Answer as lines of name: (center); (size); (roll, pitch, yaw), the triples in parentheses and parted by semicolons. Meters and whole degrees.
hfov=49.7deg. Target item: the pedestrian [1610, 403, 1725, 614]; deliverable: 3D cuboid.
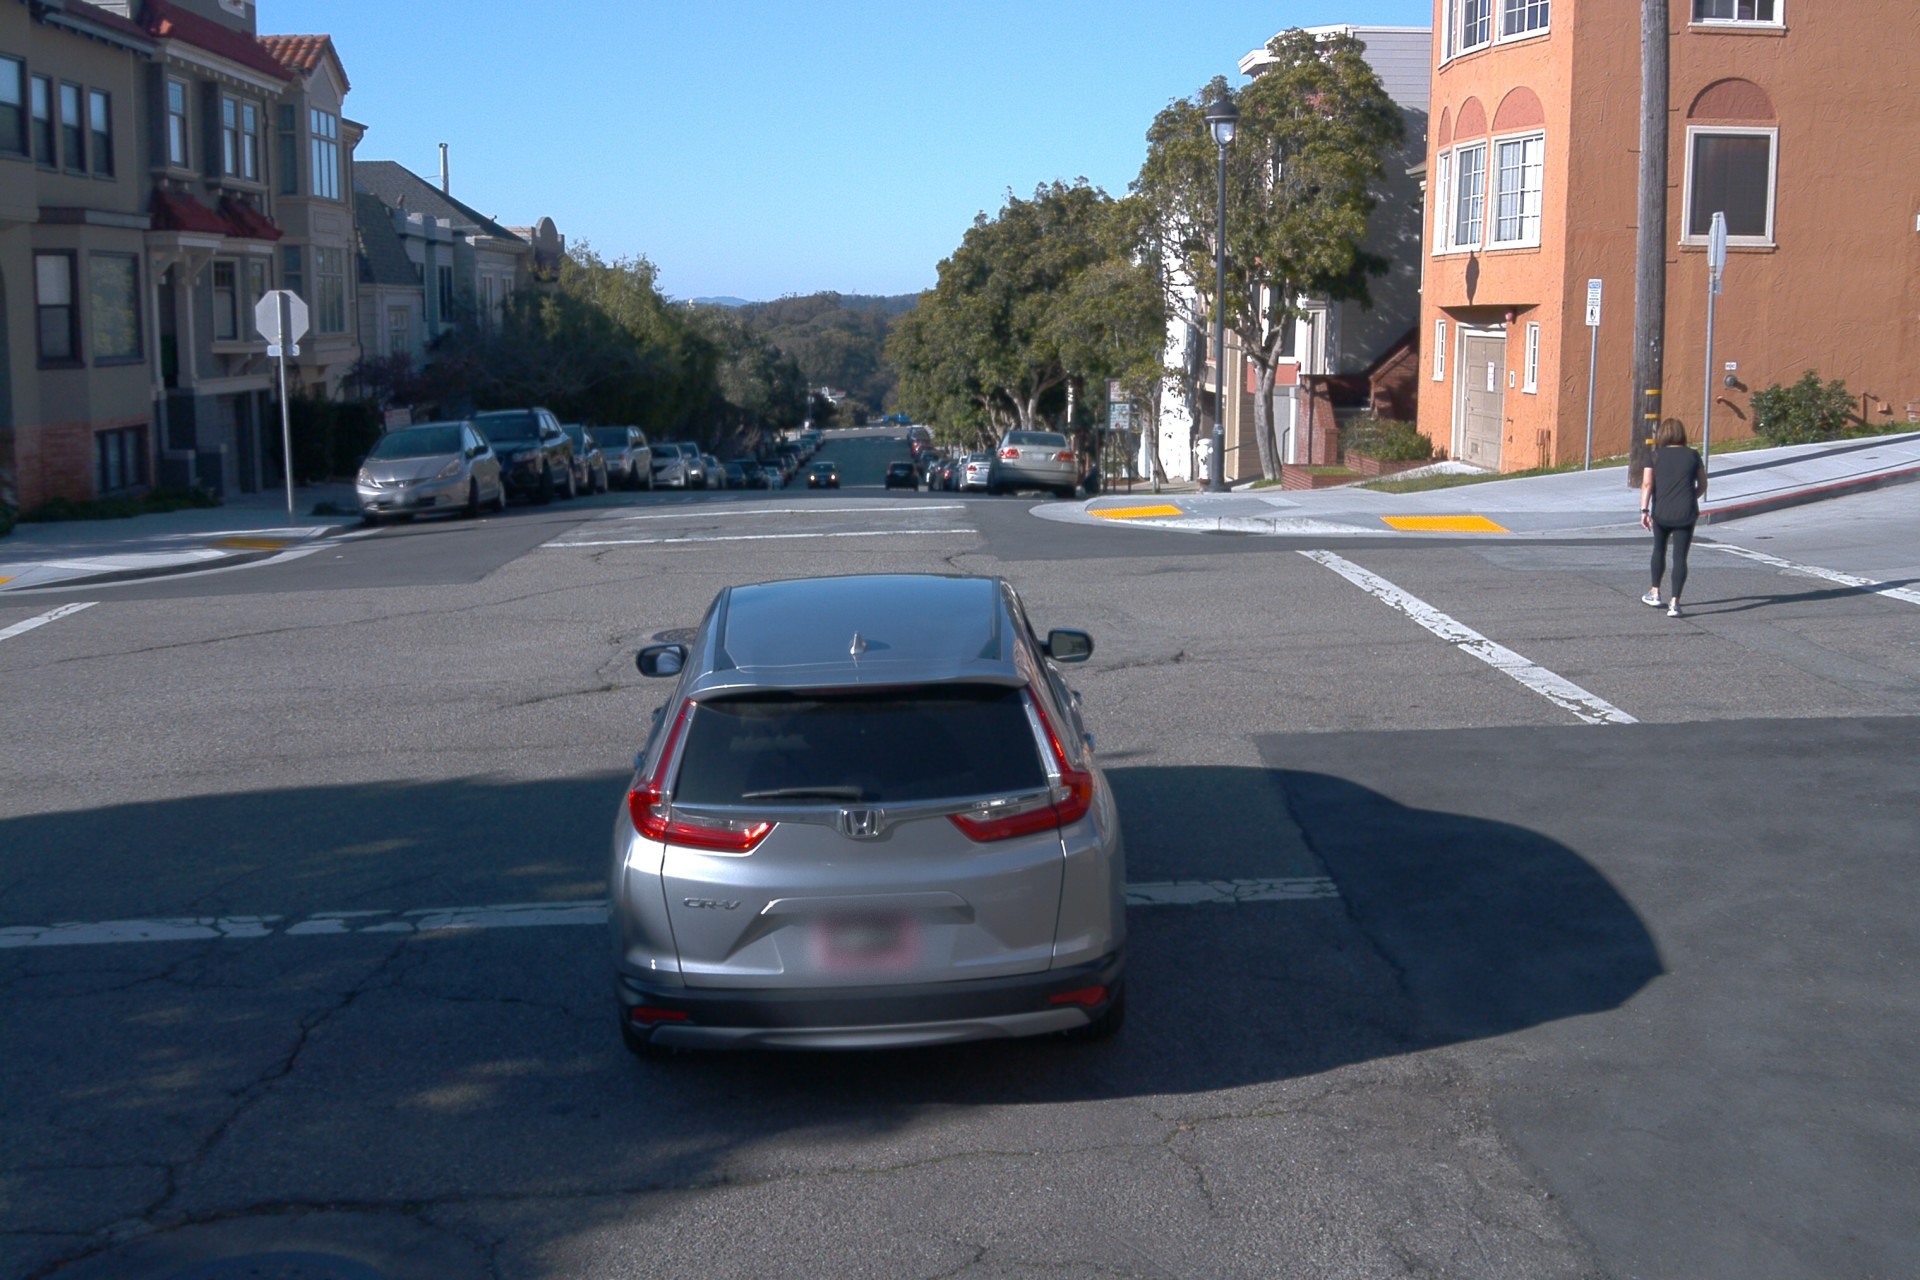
pedestrian: (5.722, -1.034, 16.797); (0.730, 1.620, 1.129); (0, 0, 11)

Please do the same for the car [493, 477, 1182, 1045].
car: (-0.456, 0.398, 8.942); (2.190, 1.800, 4.696); (0, 0, -2)
